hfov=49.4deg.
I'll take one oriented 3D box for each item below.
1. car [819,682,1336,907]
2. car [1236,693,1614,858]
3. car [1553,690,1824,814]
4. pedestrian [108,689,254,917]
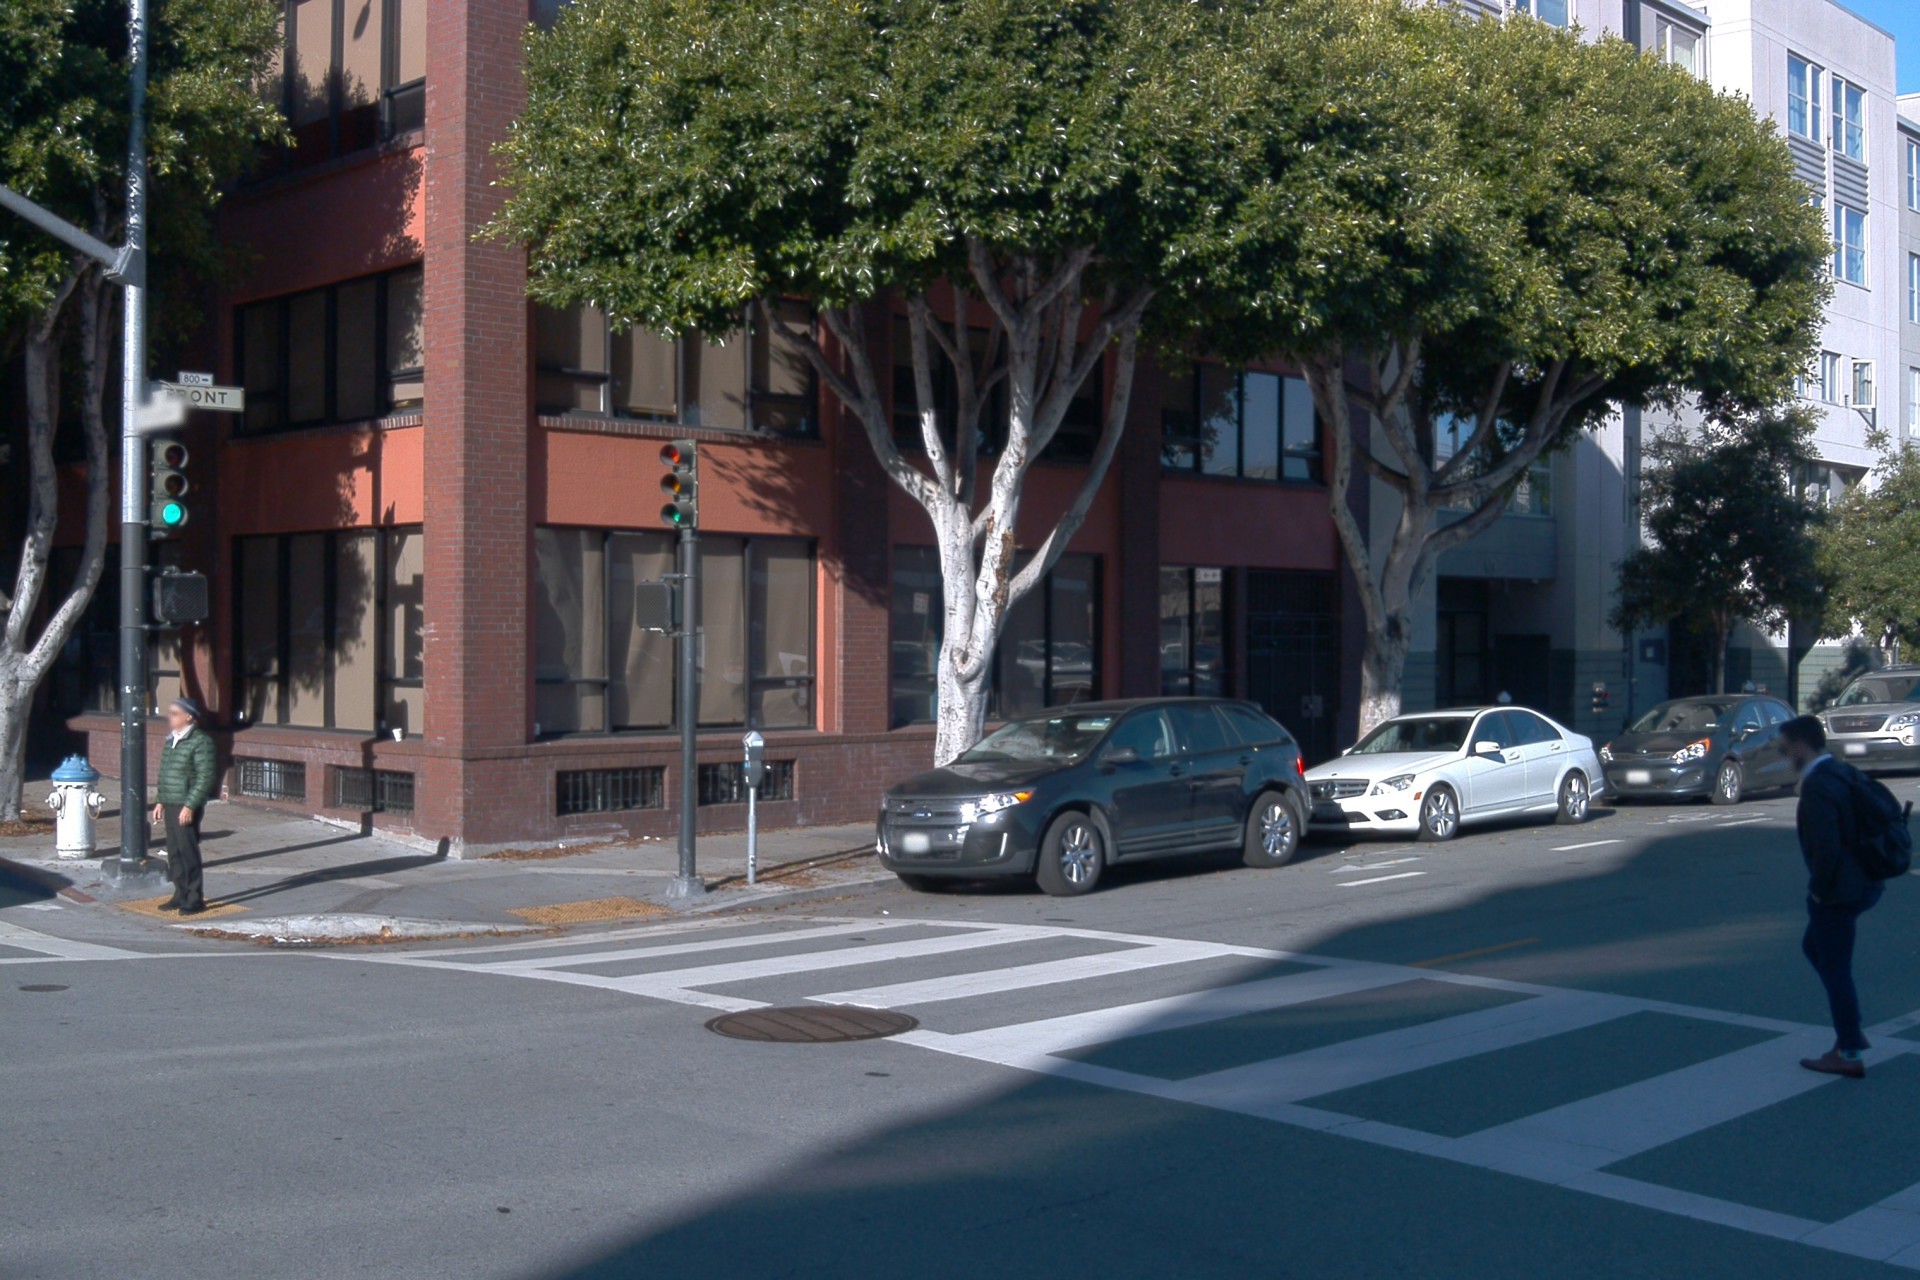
[{"bbox_3d":[1.215,1.309,19.496,2.184,1.790,4.813,0,0,44],"label":"car"},{"bbox_3d":[5.380,1.452,23.784,4.602,1.620,2.045,1,0,-45],"label":"car"},{"bbox_3d":[9.911,1.456,28.257,1.962,1.500,3.893,0,0,45],"label":"car"},{"bbox_3d":[-6.376,1.309,17.091,0.847,1.790,0.735,0,0,25],"label":"pedestrian"}]
